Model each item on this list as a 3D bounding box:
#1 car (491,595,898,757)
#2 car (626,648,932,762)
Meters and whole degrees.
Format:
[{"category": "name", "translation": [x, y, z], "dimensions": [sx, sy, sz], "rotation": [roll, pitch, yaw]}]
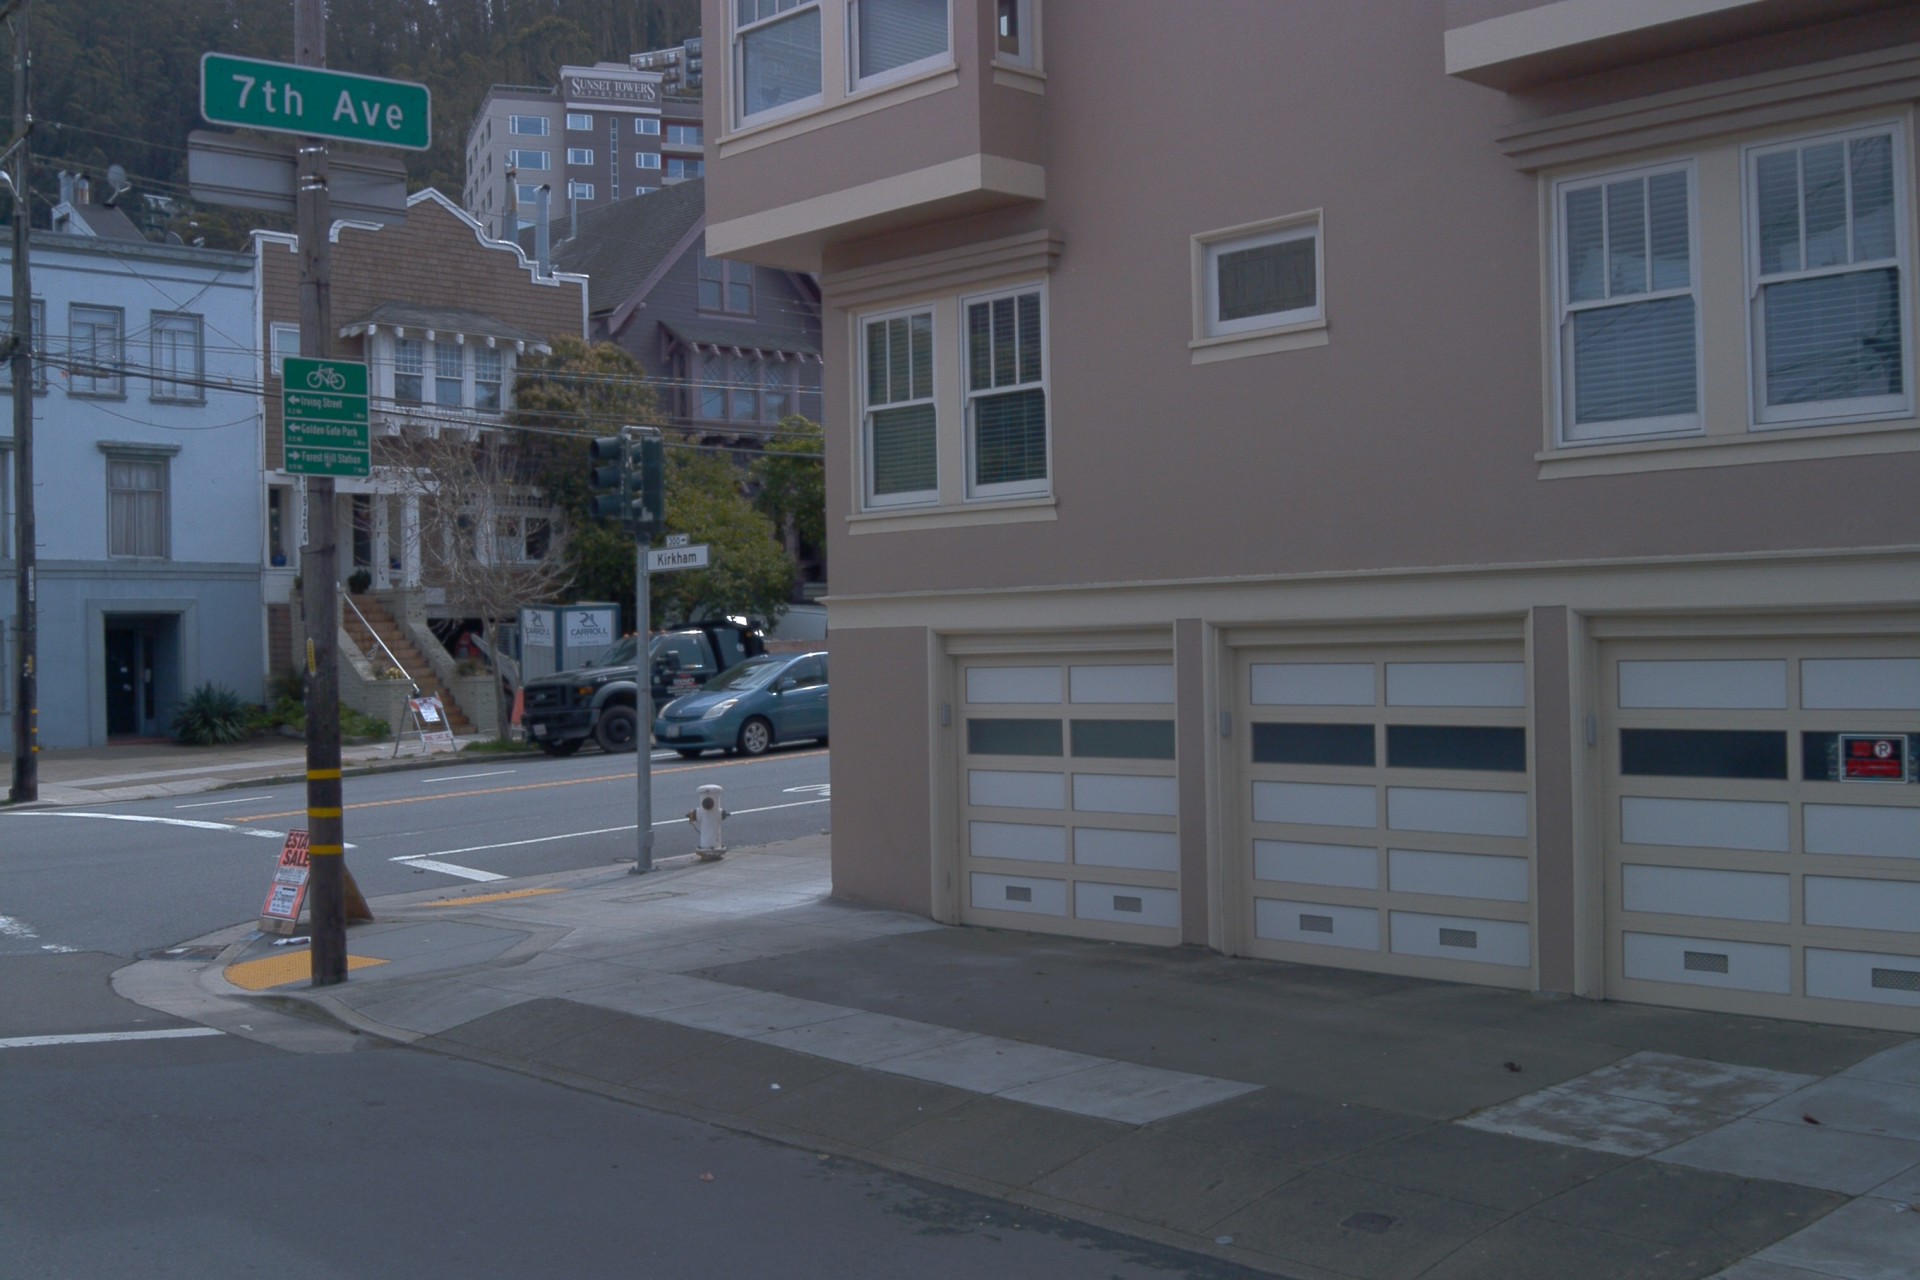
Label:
[{"category": "car", "translation": [-4.462, 0.567, 35.723], "dimensions": [6.727, 2.550, 2.715], "rotation": [0, 0, -45]}, {"category": "car", "translation": [-2.700, 0.927, 31.484], "dimensions": [1.994, 1.600, 4.408], "rotation": [0, 0, 45]}]
